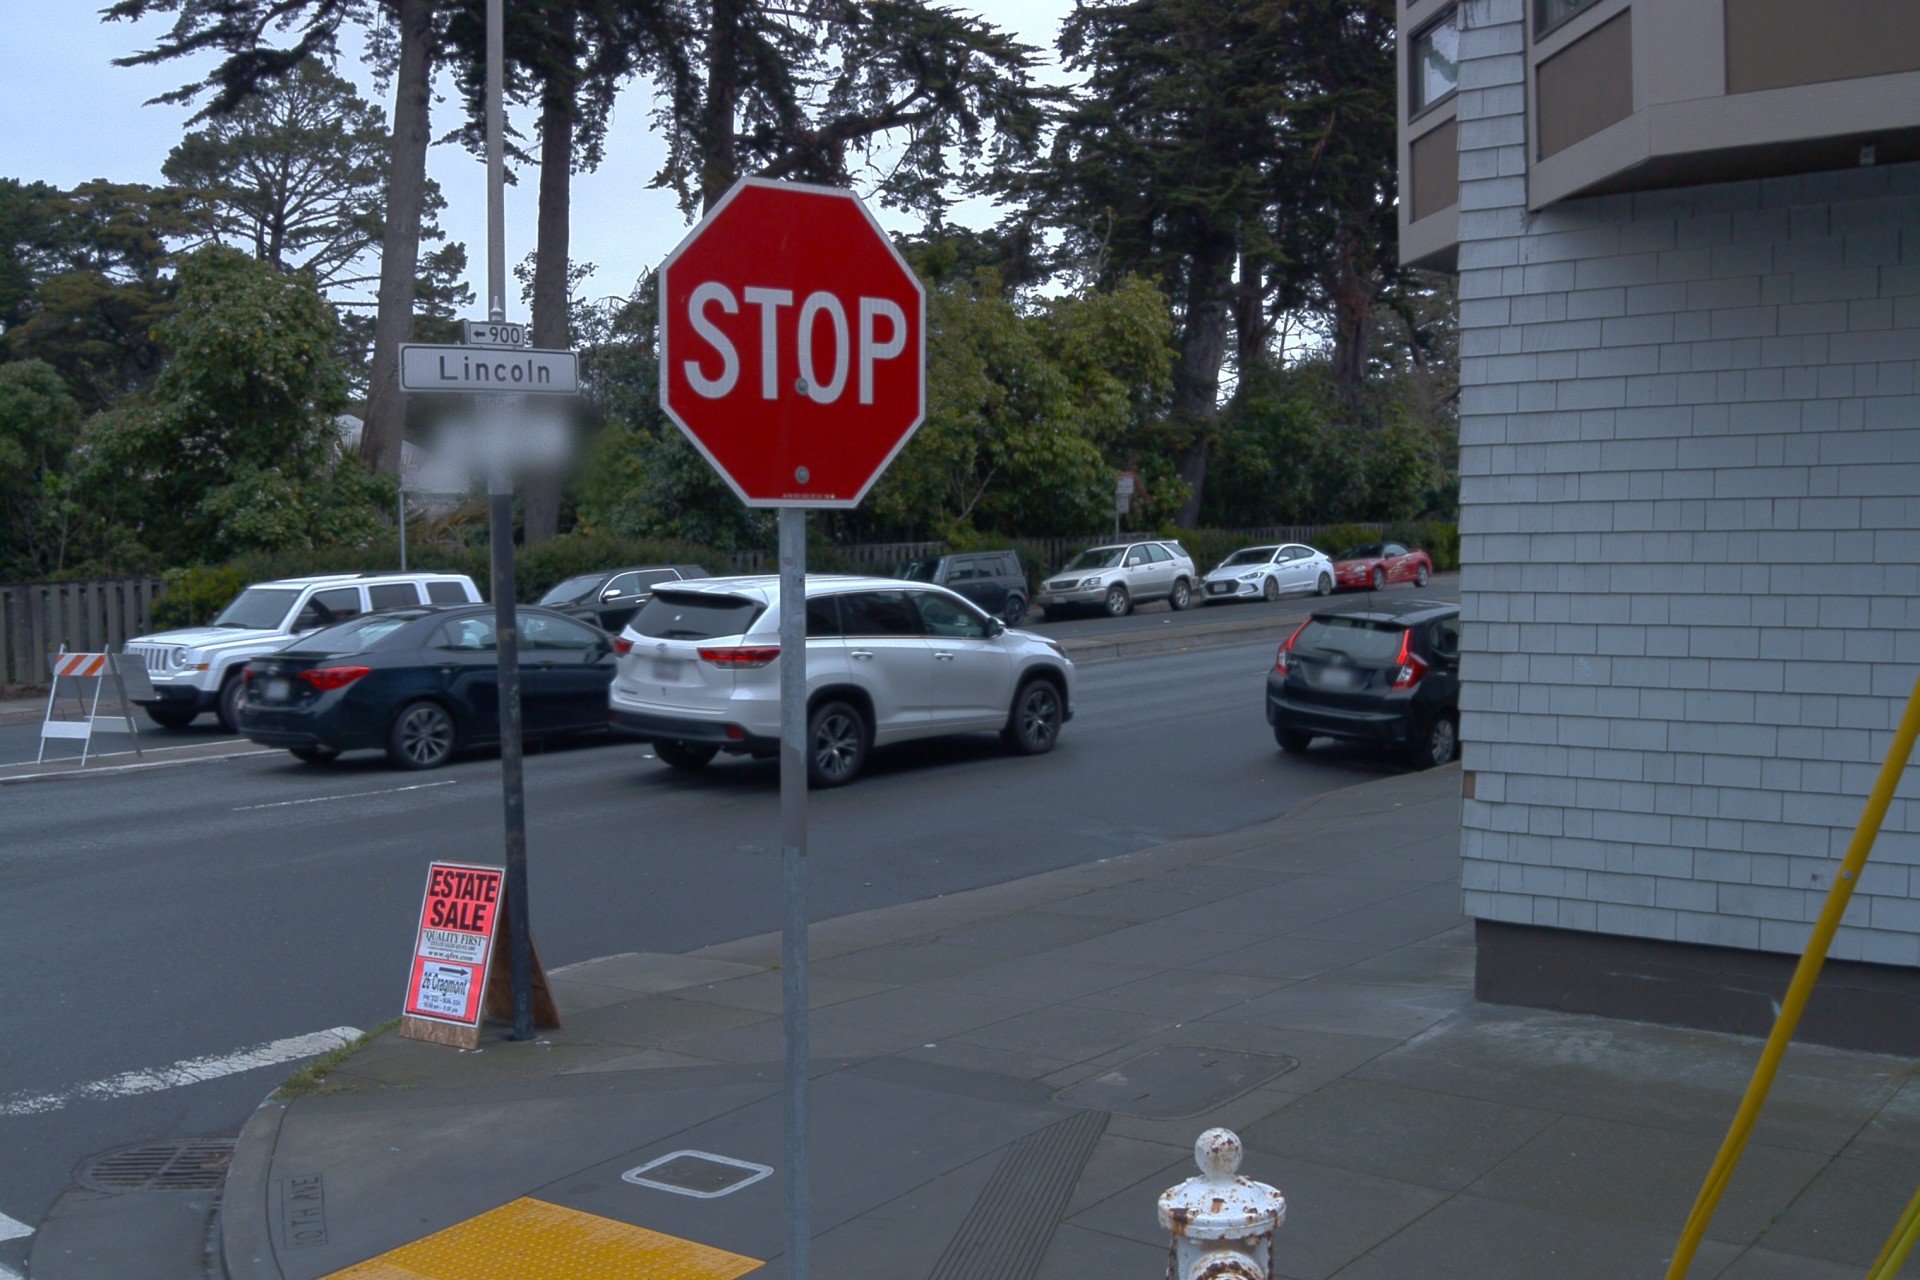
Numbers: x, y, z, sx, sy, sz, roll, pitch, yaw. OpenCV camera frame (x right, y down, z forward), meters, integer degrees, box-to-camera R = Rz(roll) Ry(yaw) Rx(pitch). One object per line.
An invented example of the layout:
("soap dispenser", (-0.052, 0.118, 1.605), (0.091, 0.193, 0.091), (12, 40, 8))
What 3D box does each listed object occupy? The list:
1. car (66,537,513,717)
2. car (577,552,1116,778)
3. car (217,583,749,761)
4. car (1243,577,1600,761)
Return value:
("car", (-7.467, -0.129, 23.277), (2.095, 1.820, 4.357), (0, 0, 40))
("car", (-0.863, 0.196, 18.611), (2.100, 1.760, 4.933), (0, 0, 39))
("car", (-4.378, 0.271, 19.573), (1.954, 1.480, 4.712), (0, 0, 39))
("car", (4.602, 0.257, 20.191), (1.835, 1.620, 3.815), (0, 0, 41))
